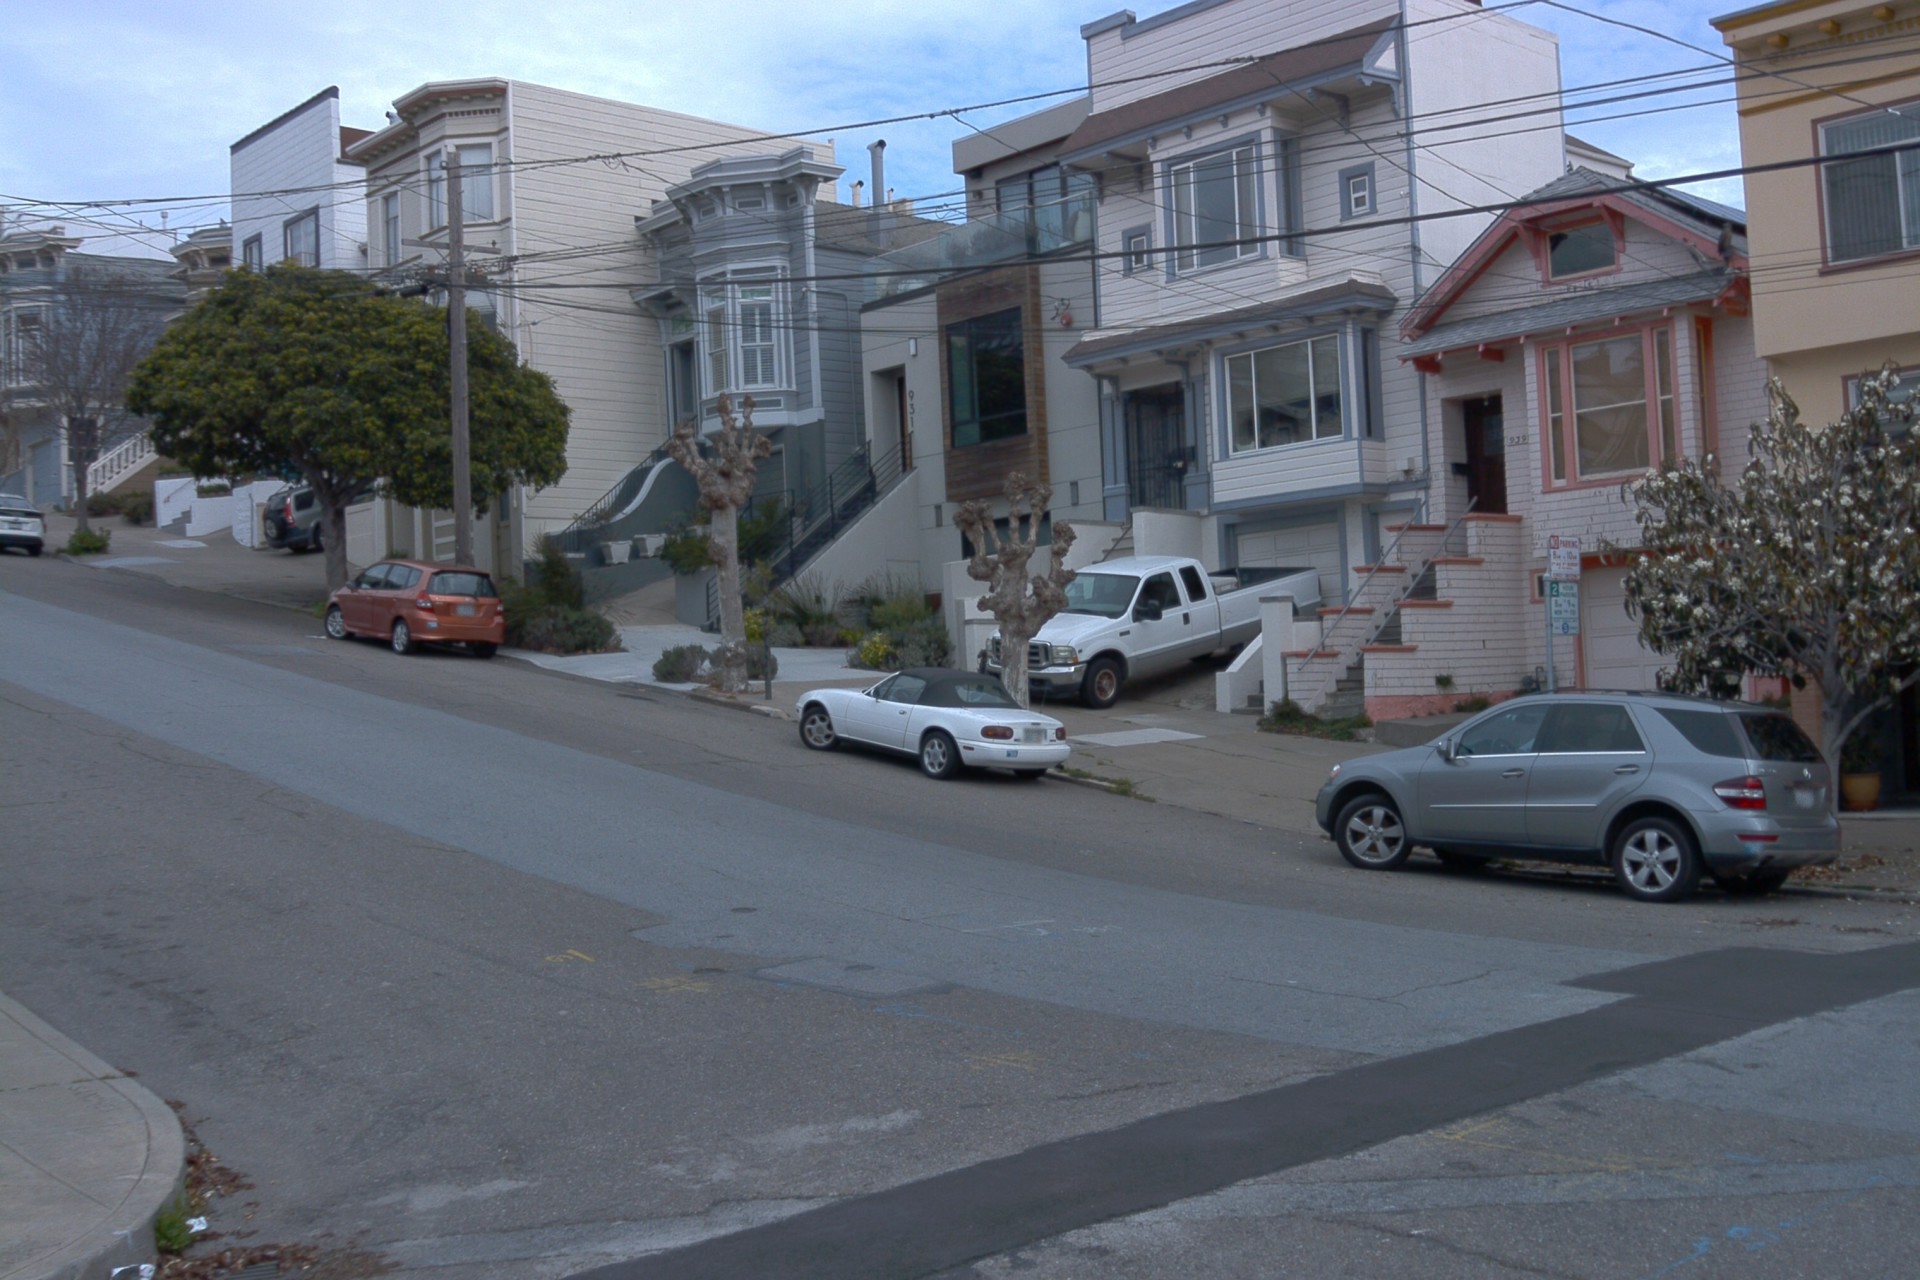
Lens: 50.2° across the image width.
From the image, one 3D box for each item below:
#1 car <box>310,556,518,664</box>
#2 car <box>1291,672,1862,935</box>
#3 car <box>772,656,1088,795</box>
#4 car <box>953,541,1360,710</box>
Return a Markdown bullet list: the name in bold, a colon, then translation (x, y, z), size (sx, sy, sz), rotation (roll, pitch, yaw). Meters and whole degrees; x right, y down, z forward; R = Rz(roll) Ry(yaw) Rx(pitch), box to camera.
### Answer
- **car**: translation (-9.215, -0.507, 34.405), size (1.781, 1.703, 3.774), rotation (0, 1, -44)
- **car**: translation (5.410, 1.325, 18.458), size (1.958, 1.930, 4.549), rotation (0, 1, -42)
- **car**: translation (-0.425, 0.968, 24.841), size (1.723, 1.460, 3.800), rotation (0, 1, -43)
- **car**: translation (3.173, -0.231, 32.129), size (6.277, 2.400, 2.723), rotation (0, 1, -40)
